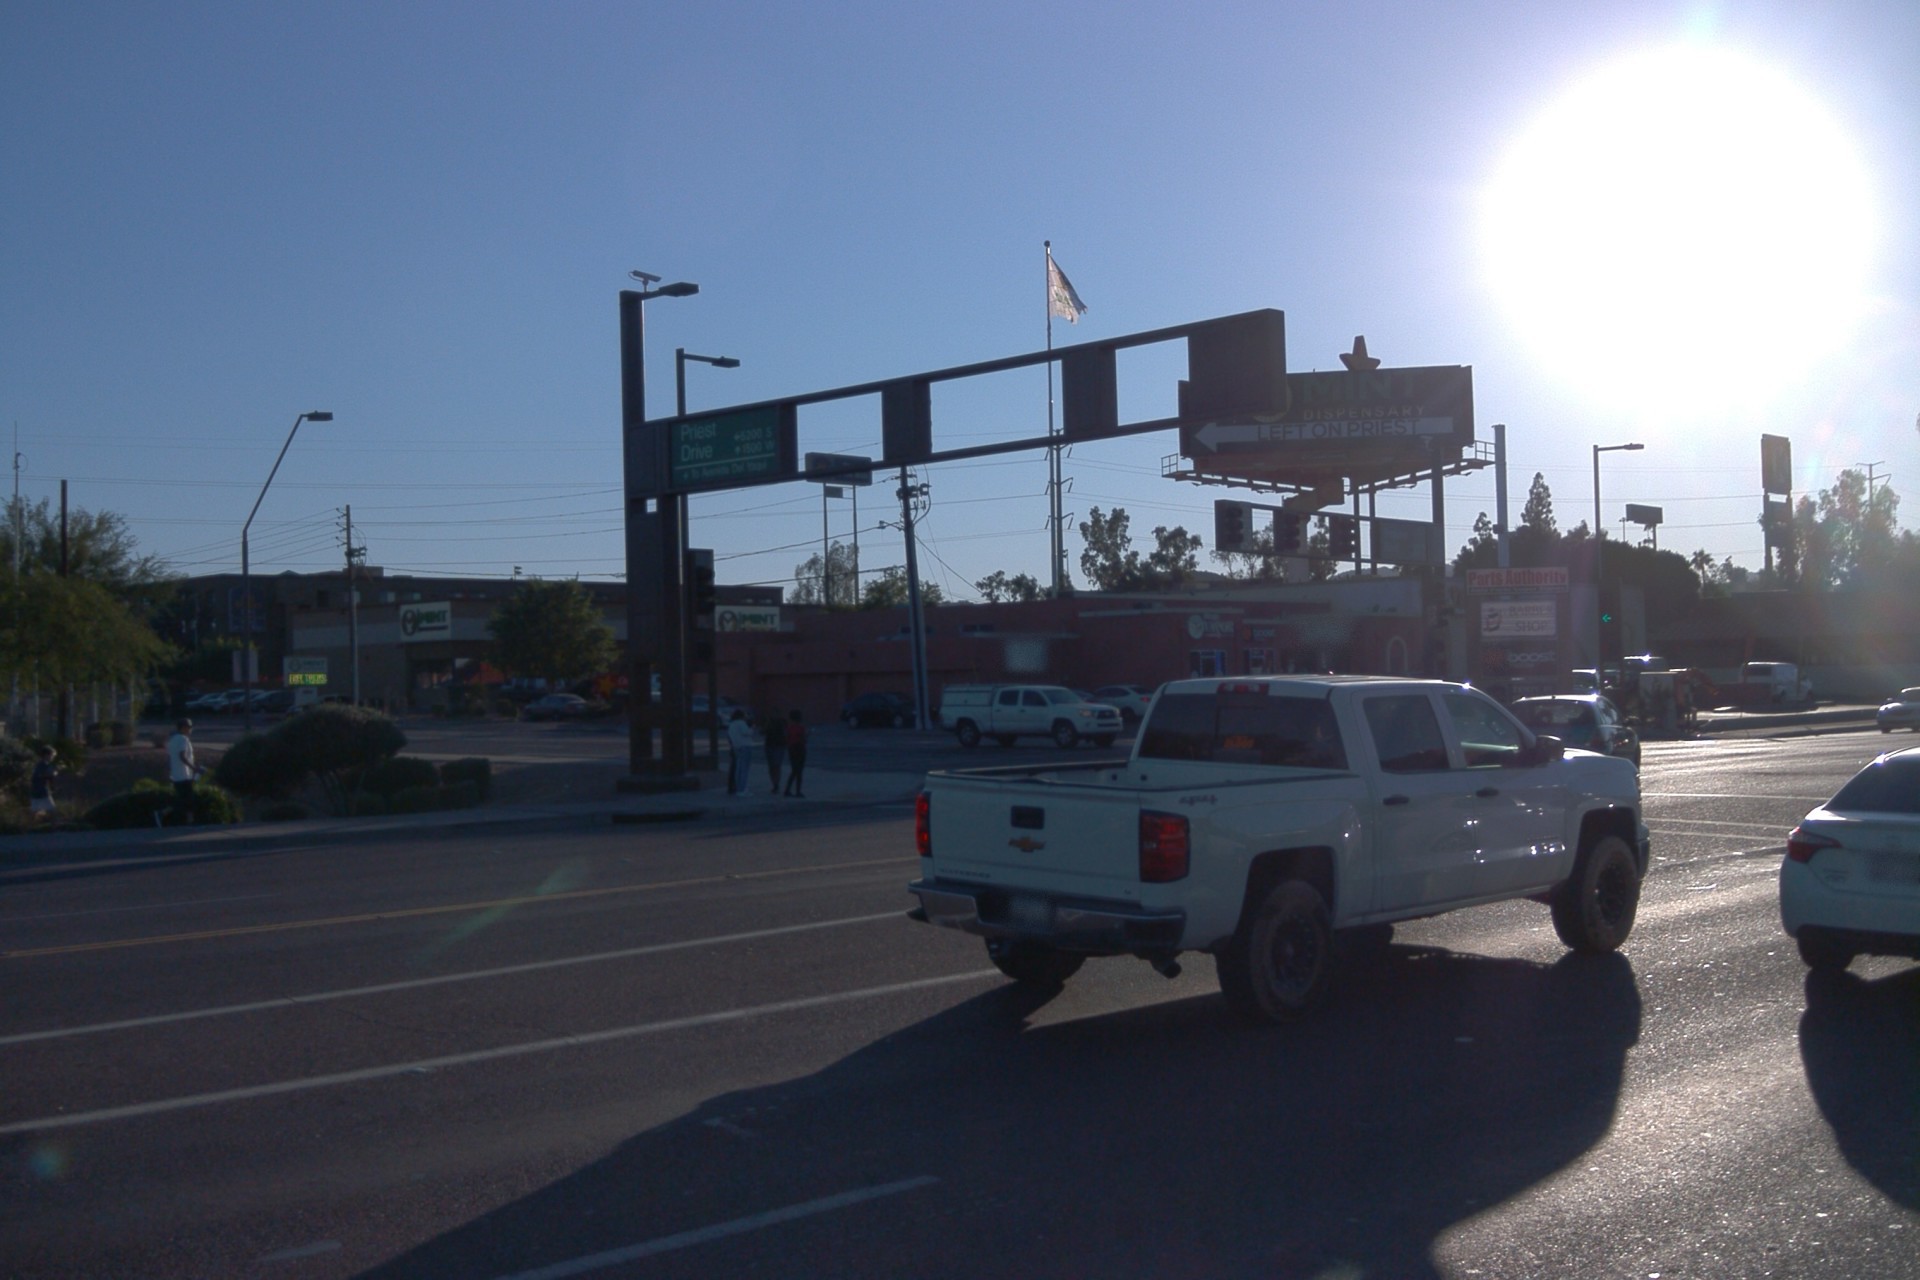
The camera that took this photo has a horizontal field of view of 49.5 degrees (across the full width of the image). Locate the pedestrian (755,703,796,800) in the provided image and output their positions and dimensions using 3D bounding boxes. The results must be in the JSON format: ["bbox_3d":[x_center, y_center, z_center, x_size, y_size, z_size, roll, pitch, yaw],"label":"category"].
[{"bbox_3d":[-3.356,2.021,37.930,0.723,1.720,0.935,0,-1,-5],"label":"pedestrian"}]

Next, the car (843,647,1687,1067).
[{"bbox_3d":[2.202,1.109,13.356,2.388,2.100,5.786,-1,-1,44],"label":"car"}]

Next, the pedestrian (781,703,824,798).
[{"bbox_3d":[-2.809,1.961,37.161,0.654,1.660,0.643,0,-1,-14],"label":"pedestrian"}]

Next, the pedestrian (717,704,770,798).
[{"bbox_3d":[-3.846,1.959,37.010,0.652,1.640,0.645,-1,-1,33],"label":"pedestrian"}]

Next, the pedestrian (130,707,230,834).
[{"bbox_3d":[-11.381,1.876,30.391,1.155,1.776,0.859,0,-1,-38],"label":"pedestrian"}]

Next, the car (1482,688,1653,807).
[{"bbox_3d":[9.383,1.582,31.967,1.852,1.620,4.280,-1,-1,25],"label":"car"}]
